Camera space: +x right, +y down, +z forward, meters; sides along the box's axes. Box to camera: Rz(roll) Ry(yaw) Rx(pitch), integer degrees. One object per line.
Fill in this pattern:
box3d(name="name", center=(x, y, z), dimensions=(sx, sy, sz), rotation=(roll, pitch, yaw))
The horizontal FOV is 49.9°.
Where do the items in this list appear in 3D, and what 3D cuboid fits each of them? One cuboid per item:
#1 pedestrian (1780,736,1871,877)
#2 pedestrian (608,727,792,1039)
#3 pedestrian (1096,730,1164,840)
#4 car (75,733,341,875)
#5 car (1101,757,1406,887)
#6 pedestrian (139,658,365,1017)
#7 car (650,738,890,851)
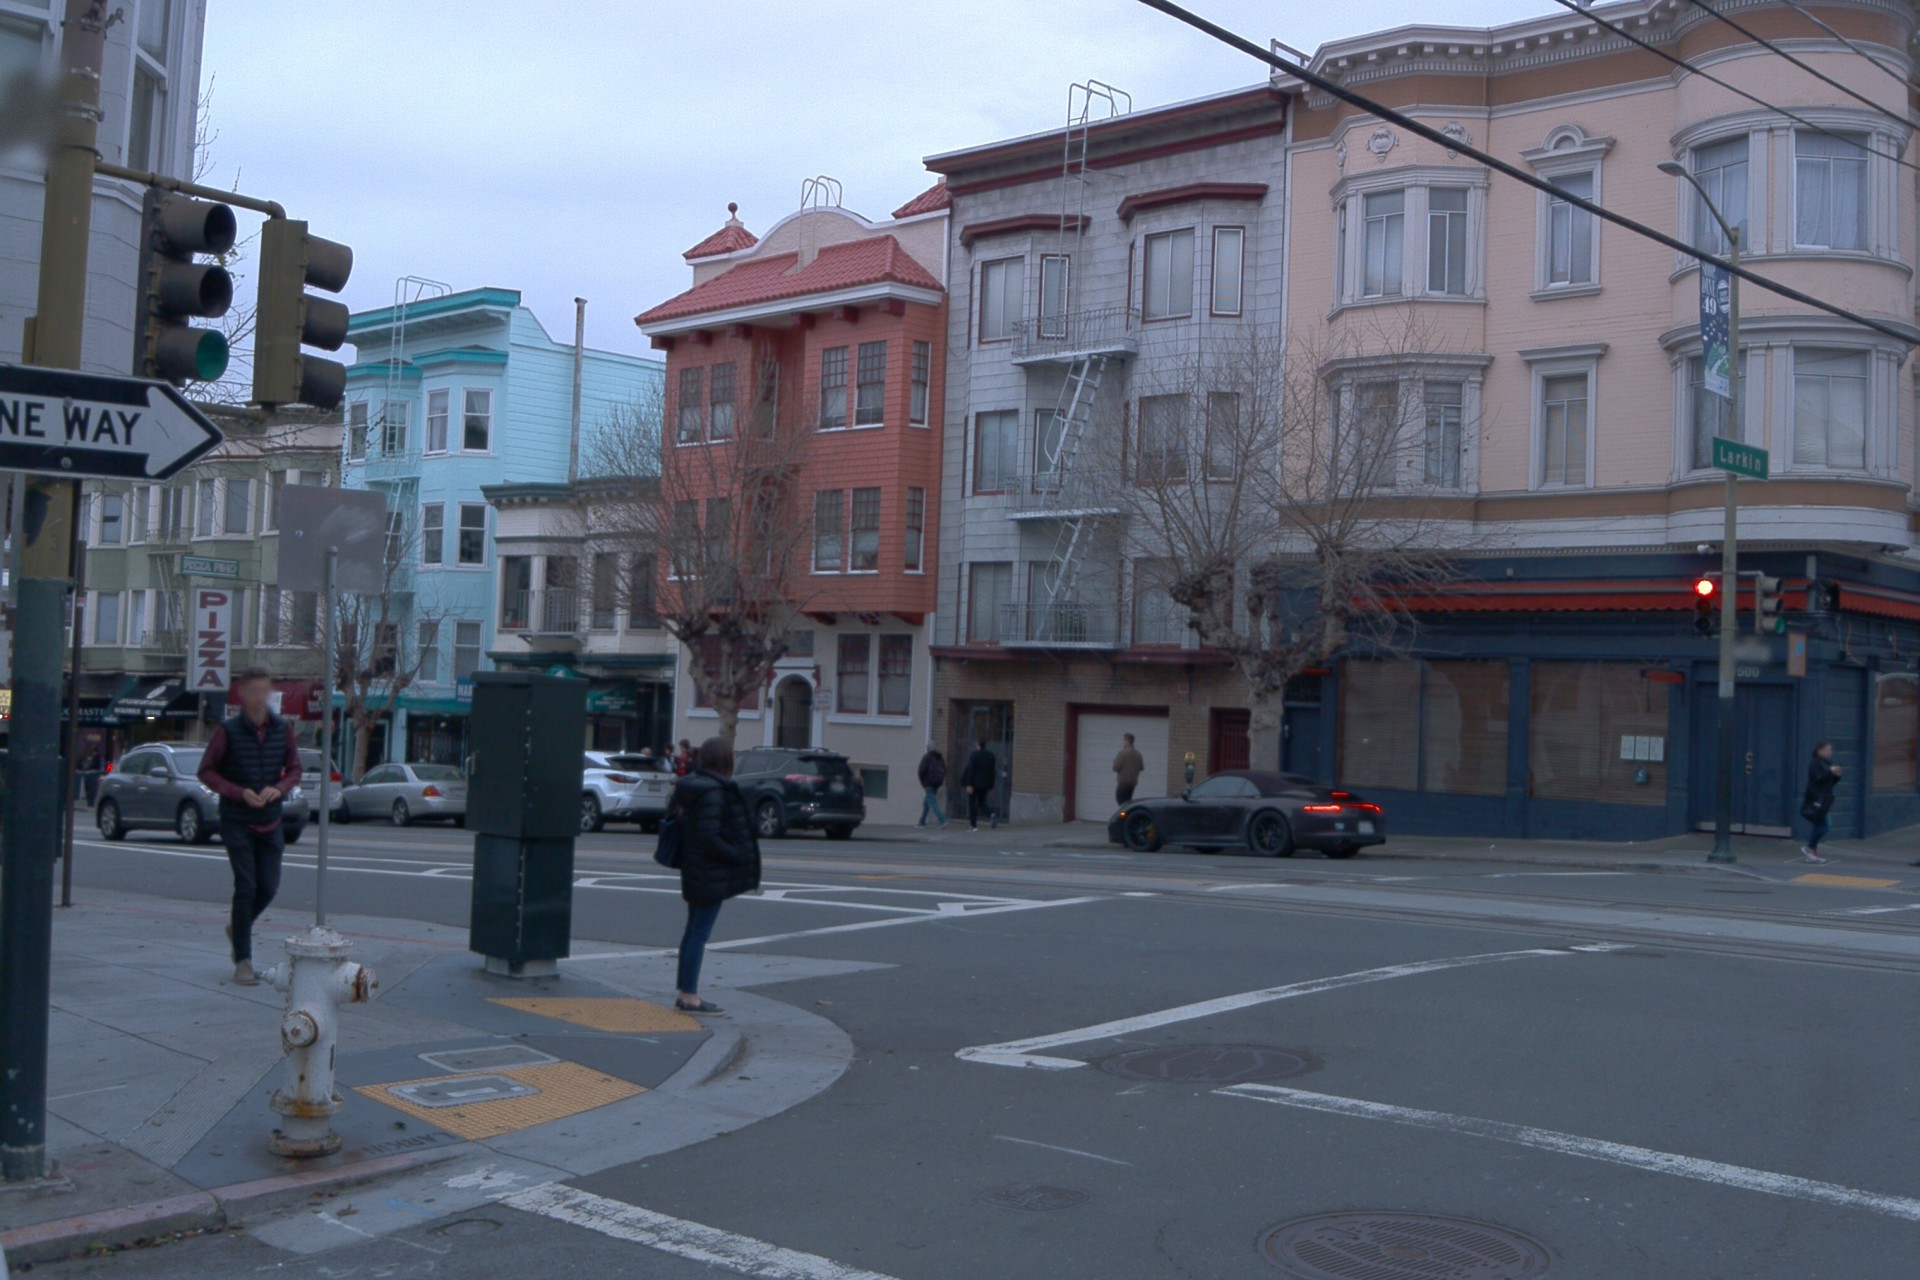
box3d(name="pedestrian", center=(11.821, 2.254, 28.193), dimensions=(0.938, 1.800, 0.779), rotation=(1, 1, 40))
box3d(name="pedestrian", center=(-1.534, 1.393, 12.151), dimensions=(0.846, 1.692, 0.707), rotation=(-1, 1, -34))
box3d(name="pedestrian", center=(3.078, 2.622, 37.482), dimensions=(0.789, 1.900, 0.946), rotation=(-1, 1, -43))
box3d(name="car", center=(-12.117, 2.548, 33.125), dimensions=(4.671, 1.830, 2.108), rotation=(1, 1, 43))
box3d(name="car", center=(4.284, 2.627, 30.587), dimensions=(1.947, 1.460, 4.186), rotation=(-1, 1, -43))
box3d(name="pedestrian", center=(-4.122, 1.086, 11.990), dimensions=(0.804, 1.922, 1.262), rotation=(-1, 1, -42))
box3d(name="car", center=(-3.619, 2.831, 38.770), dimensions=(4.423, 1.700, 2.100), rotation=(1, 1, 44))
